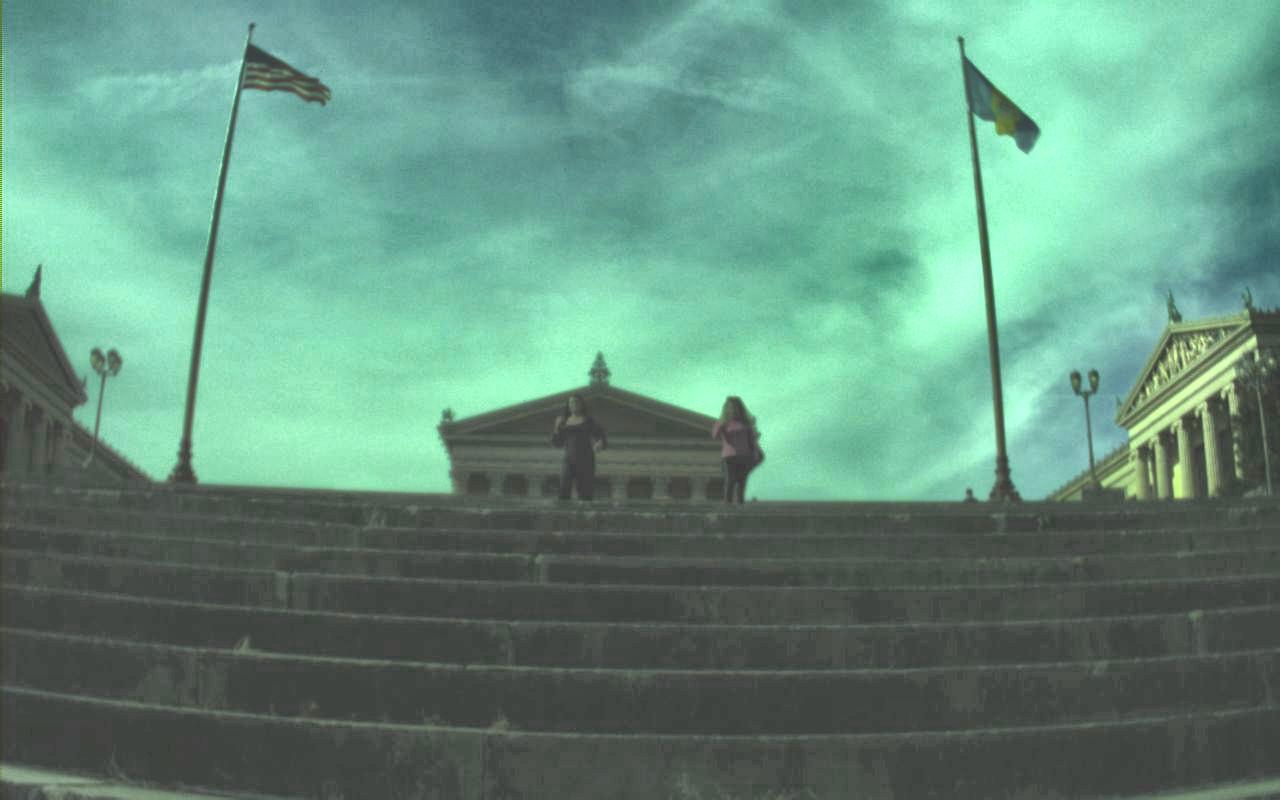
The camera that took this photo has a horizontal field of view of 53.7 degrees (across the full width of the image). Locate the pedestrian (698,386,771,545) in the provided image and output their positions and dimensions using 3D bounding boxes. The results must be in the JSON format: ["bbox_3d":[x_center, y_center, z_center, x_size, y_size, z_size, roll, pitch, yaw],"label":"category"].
[{"bbox_3d":[1.076,0.727,14.312,0.791,1.747,0.807,0,0,4],"label":"pedestrian"}]

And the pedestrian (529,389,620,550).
[{"bbox_3d":[-0.766,0.790,14.824,0.814,1.821,0.829,1,0,19],"label":"pedestrian"}]
